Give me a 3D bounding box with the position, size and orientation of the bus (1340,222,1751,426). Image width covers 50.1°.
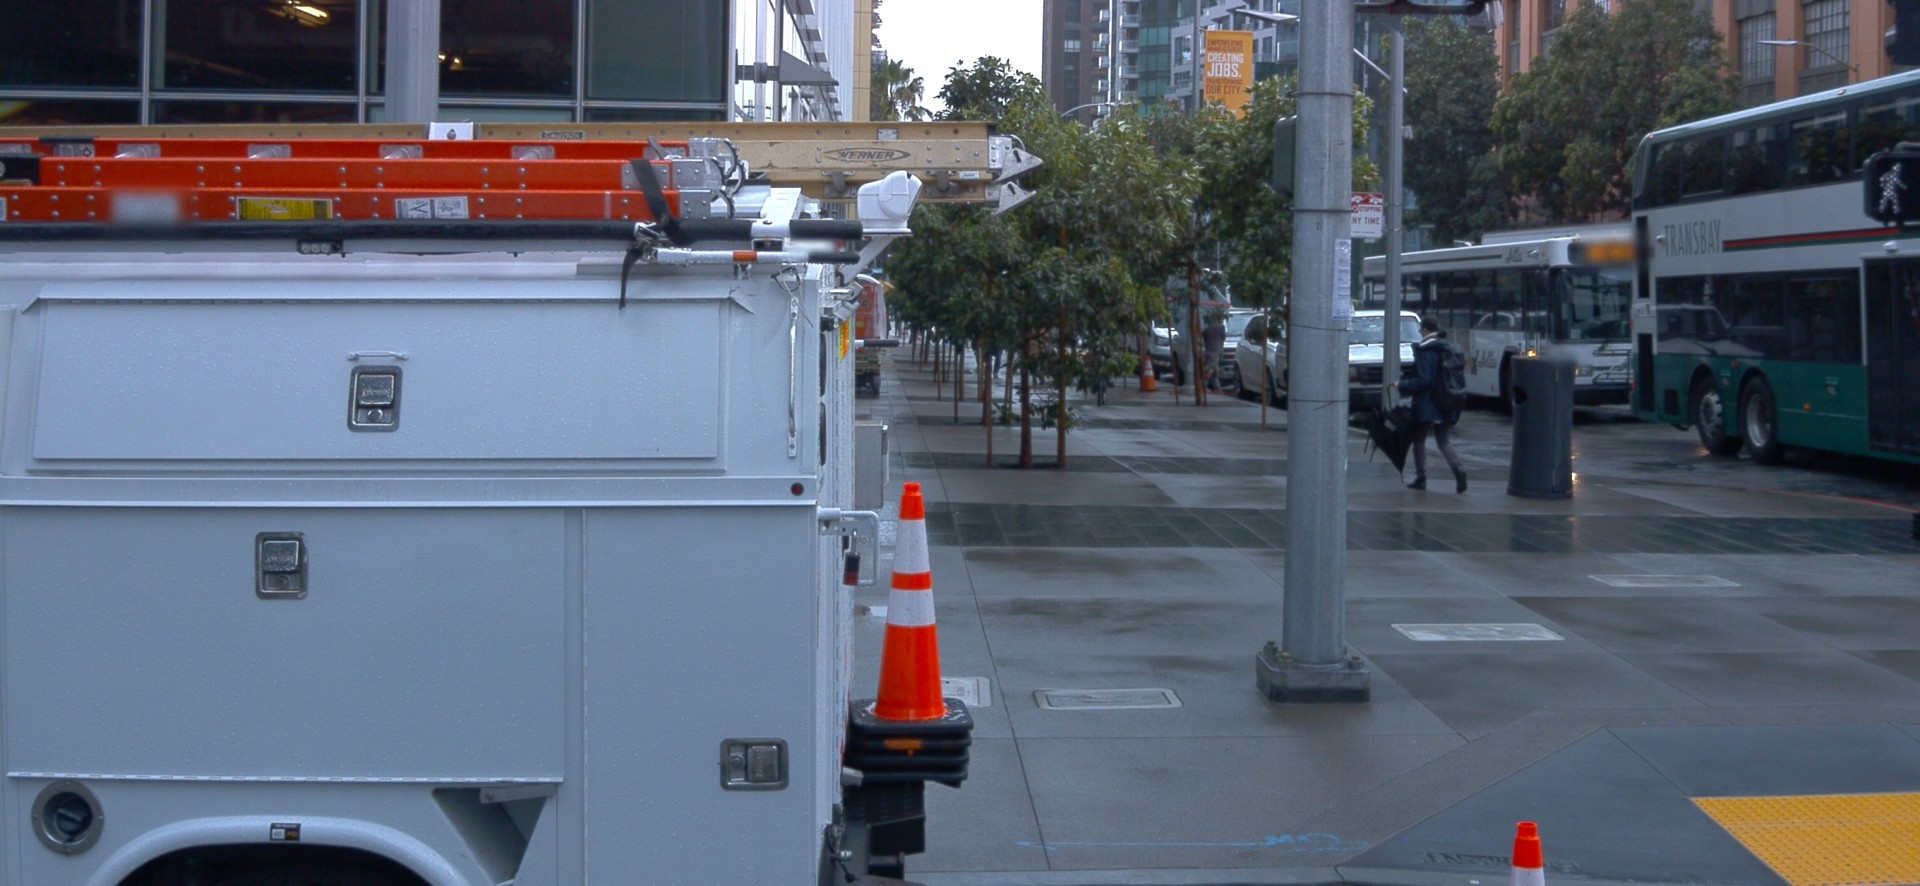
[{"bbox_3d":[9.873,-2.414,36.807,3.258,2.996,12.707,0,6,-2],"label":"bus"}]

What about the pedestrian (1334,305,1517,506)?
[{"bbox_3d":[4.014,-0.351,17.765,1.243,1.638,0.910,-1,2,-18],"label":"pedestrian"}]
